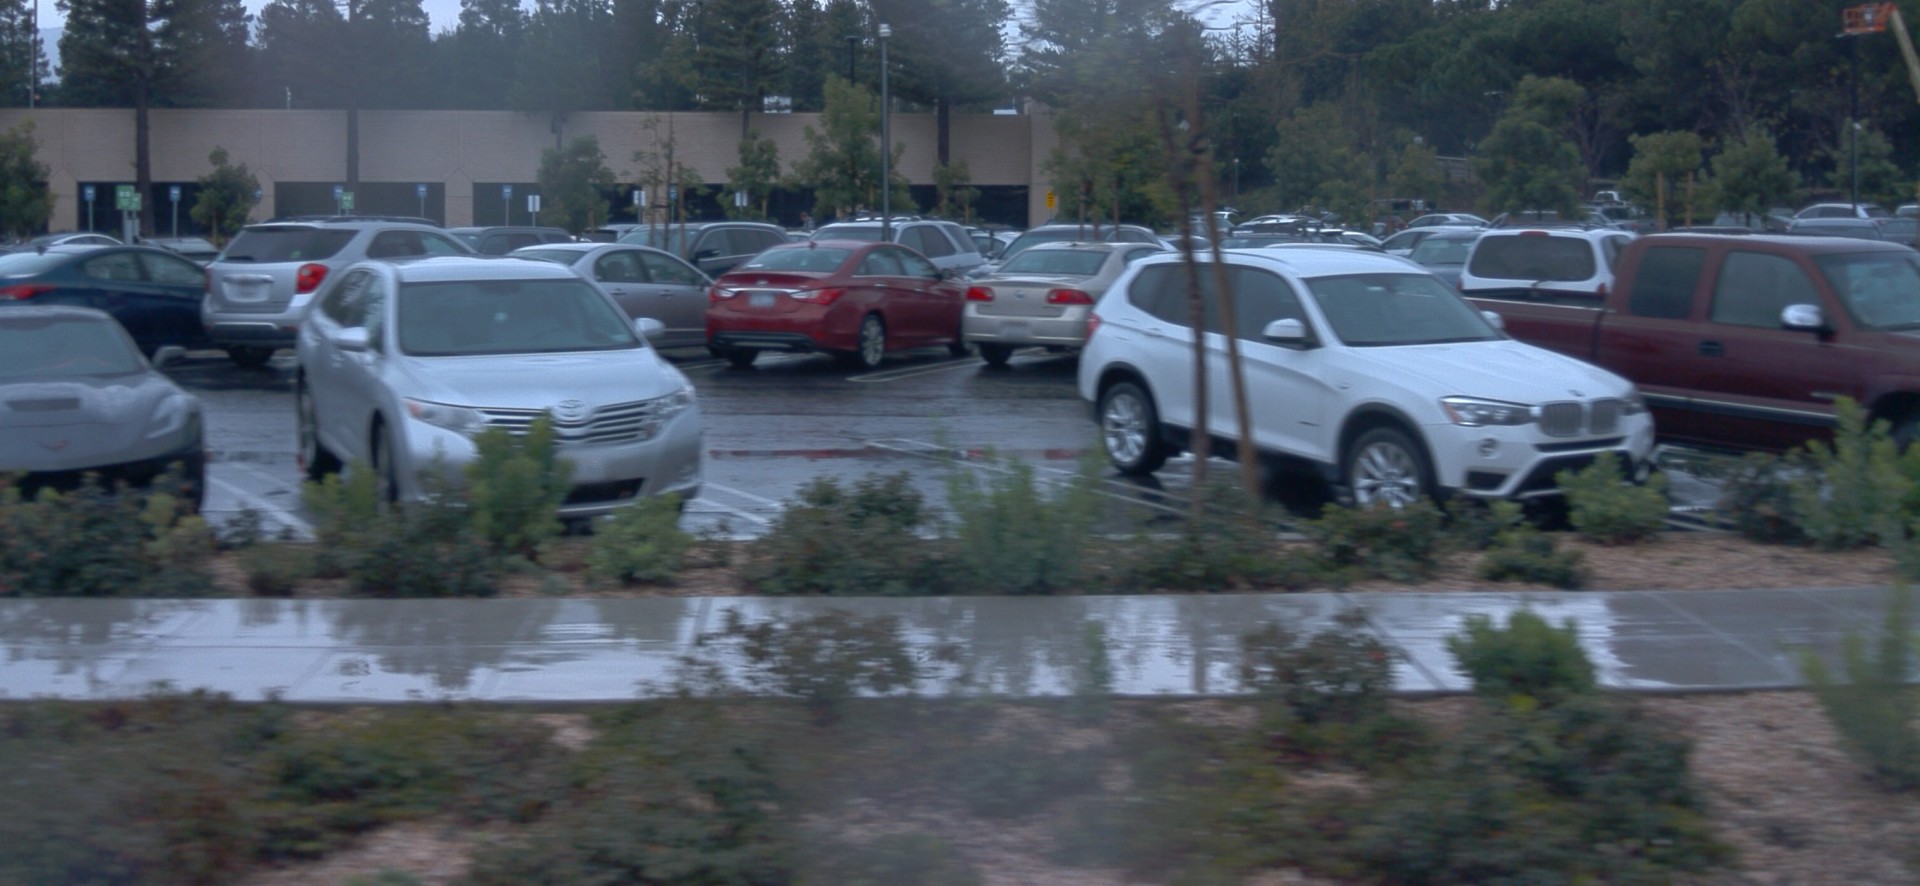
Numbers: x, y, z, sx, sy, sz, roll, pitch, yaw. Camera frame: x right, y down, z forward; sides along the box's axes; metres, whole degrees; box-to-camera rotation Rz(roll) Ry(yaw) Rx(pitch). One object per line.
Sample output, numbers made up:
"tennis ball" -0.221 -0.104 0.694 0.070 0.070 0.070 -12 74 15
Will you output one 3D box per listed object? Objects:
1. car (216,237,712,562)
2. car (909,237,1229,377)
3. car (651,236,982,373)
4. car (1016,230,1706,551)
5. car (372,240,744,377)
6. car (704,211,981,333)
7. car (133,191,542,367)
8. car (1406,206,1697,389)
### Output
"car" -3.485 -0.487 13.796 2.246 1.703 4.791 -1 6 -25
"car" 1.435 -1.721 25.098 2.156 1.494 4.635 3 6 27
"car" -1.565 -1.720 24.657 2.104 1.434 4.558 2 6 22
"car" 2.542 -0.551 14.446 2.175 1.803 4.659 -2 6 -30
"car" -4.560 -1.642 24.238 2.075 1.414 4.218 3 6 28
"car" -1.612 -2.541 30.370 2.188 1.614 4.565 2 6 24
"car" -7.199 -1.988 24.562 2.009 1.863 4.524 2 5 28
"car" 7.160 -1.815 24.795 2.167 1.943 4.914 3 5 30
